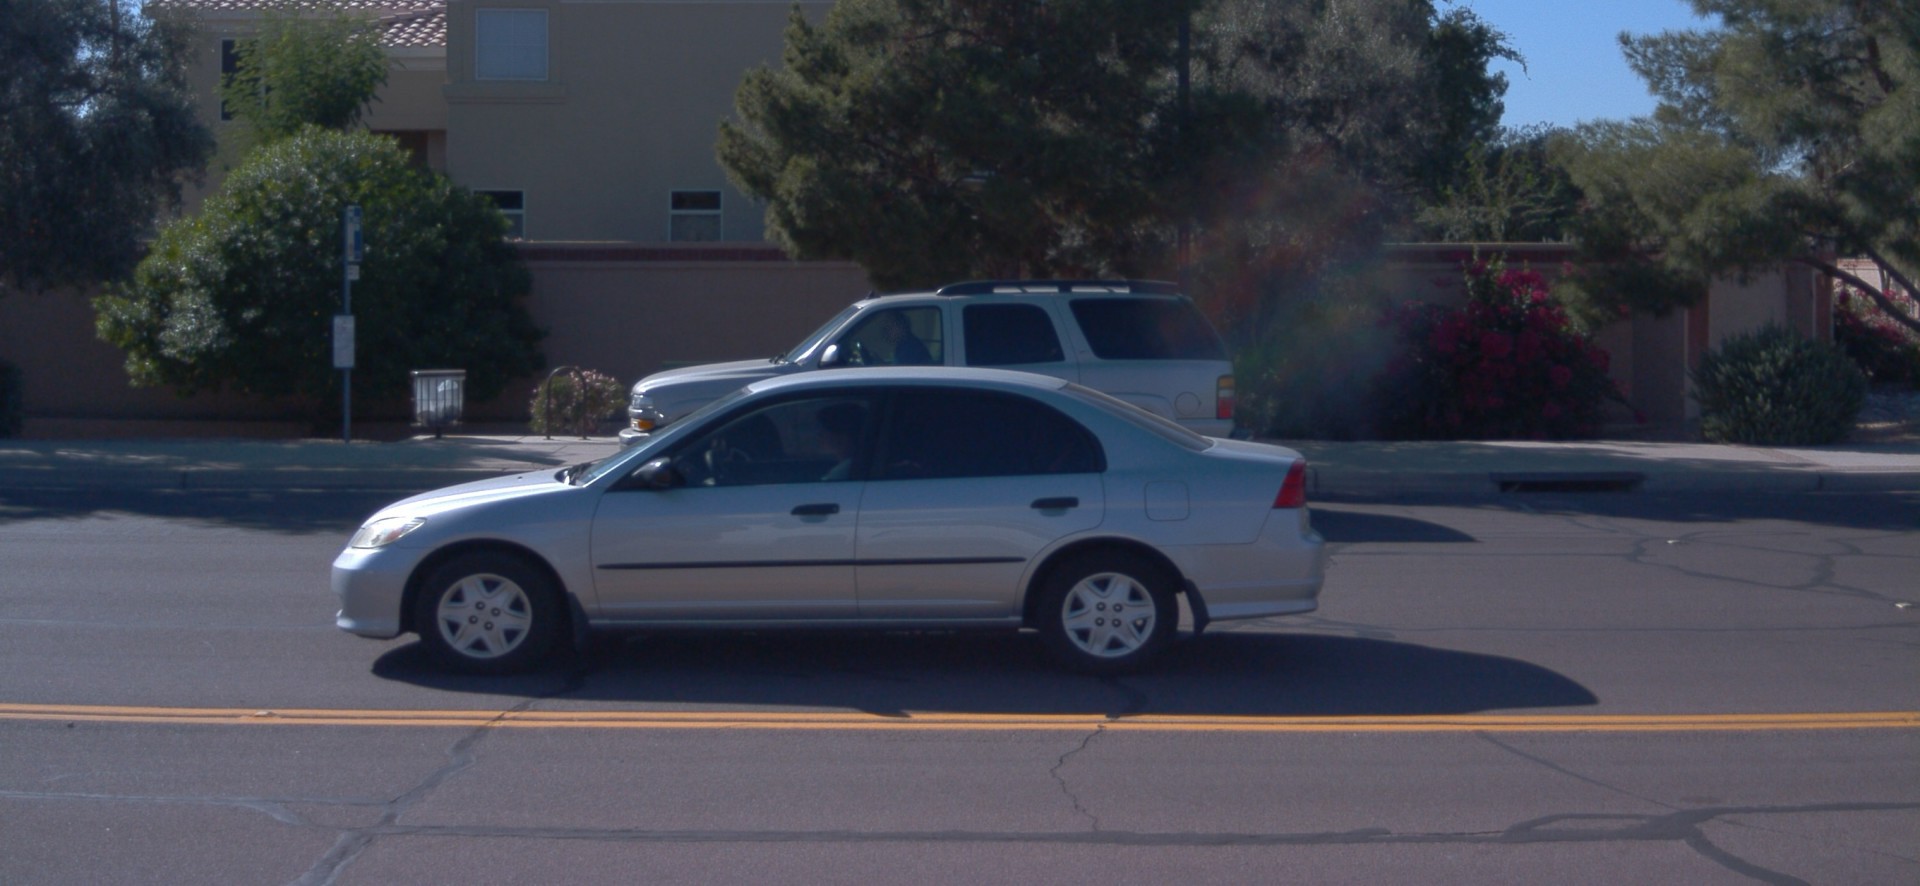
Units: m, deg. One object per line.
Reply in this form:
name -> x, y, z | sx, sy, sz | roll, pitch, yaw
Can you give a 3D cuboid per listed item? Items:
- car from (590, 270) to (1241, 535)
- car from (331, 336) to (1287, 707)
car -> -0.332, -0.419, 17.747 | 5.132, 2.015, 2.401 | 0, 4, 0
car -> -0.679, 0.311, 10.568 | 4.355, 1.566, 2.013 | 0, 4, -1
